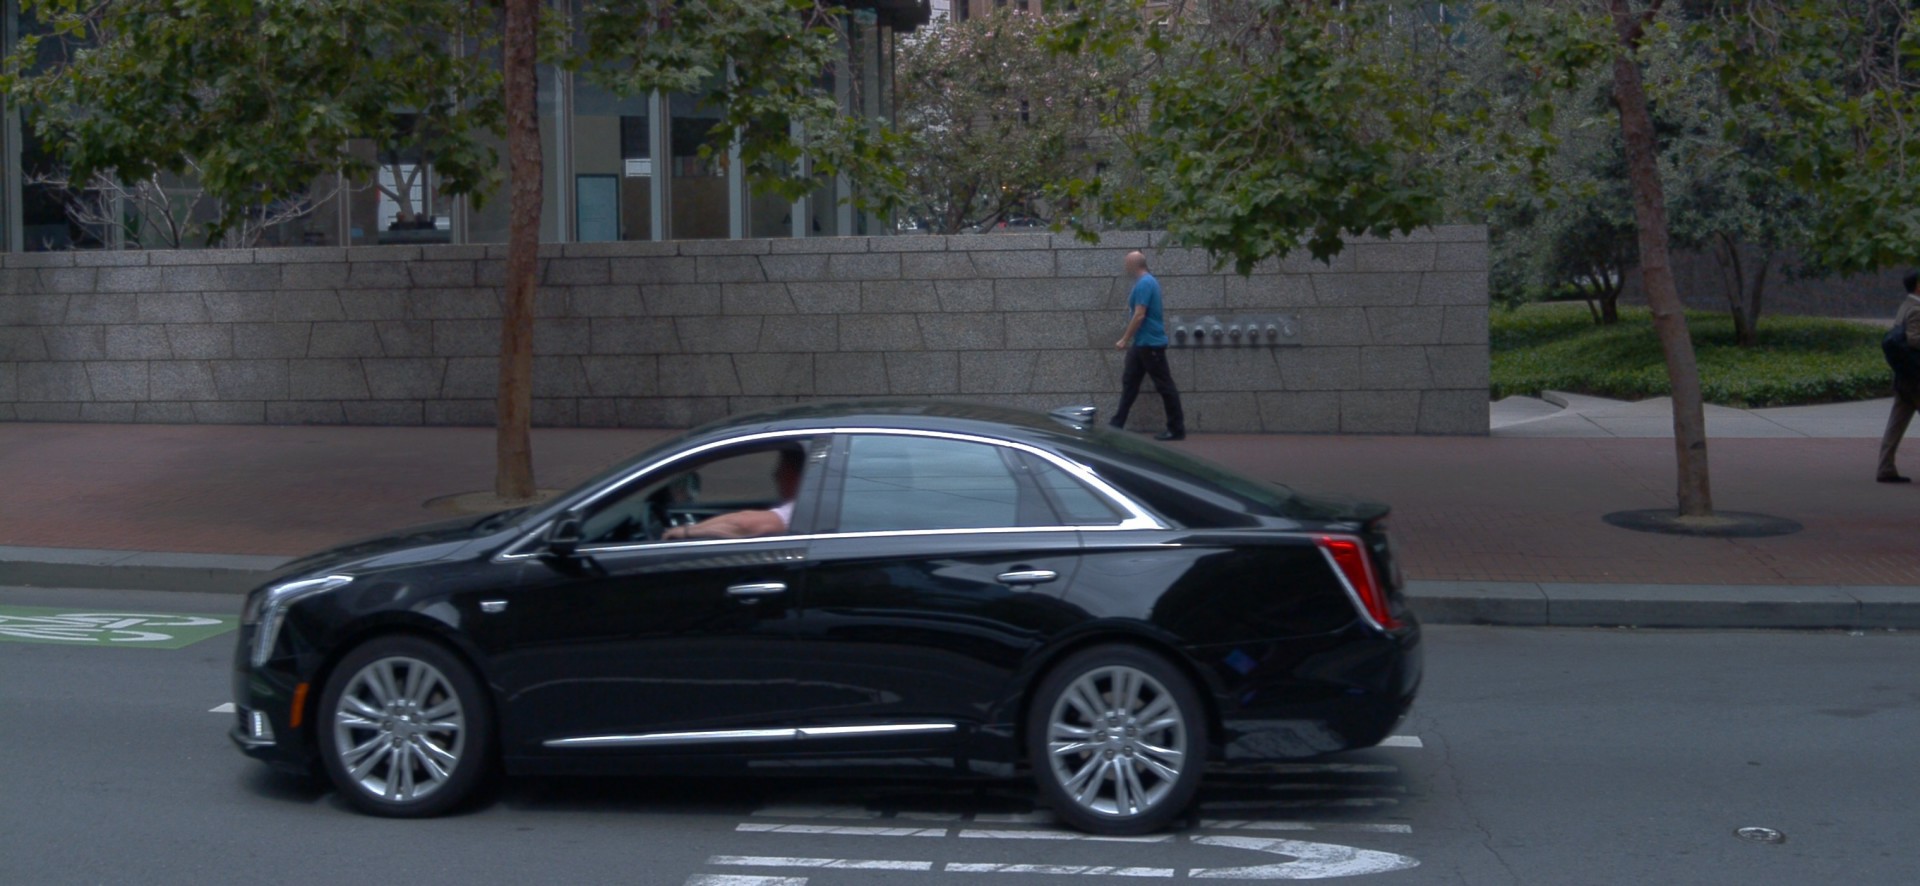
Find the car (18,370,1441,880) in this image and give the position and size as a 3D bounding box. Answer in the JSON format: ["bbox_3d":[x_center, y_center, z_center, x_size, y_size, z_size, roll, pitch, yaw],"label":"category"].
[{"bbox_3d":[-0.768,0.558,8.149,4.975,1.495,2.076,1,5,6],"label":"car"}]

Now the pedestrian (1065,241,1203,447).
[{"bbox_3d":[1.672,-0.973,19.763,1.260,1.897,0.951,0,2,8],"label":"pedestrian"}]
